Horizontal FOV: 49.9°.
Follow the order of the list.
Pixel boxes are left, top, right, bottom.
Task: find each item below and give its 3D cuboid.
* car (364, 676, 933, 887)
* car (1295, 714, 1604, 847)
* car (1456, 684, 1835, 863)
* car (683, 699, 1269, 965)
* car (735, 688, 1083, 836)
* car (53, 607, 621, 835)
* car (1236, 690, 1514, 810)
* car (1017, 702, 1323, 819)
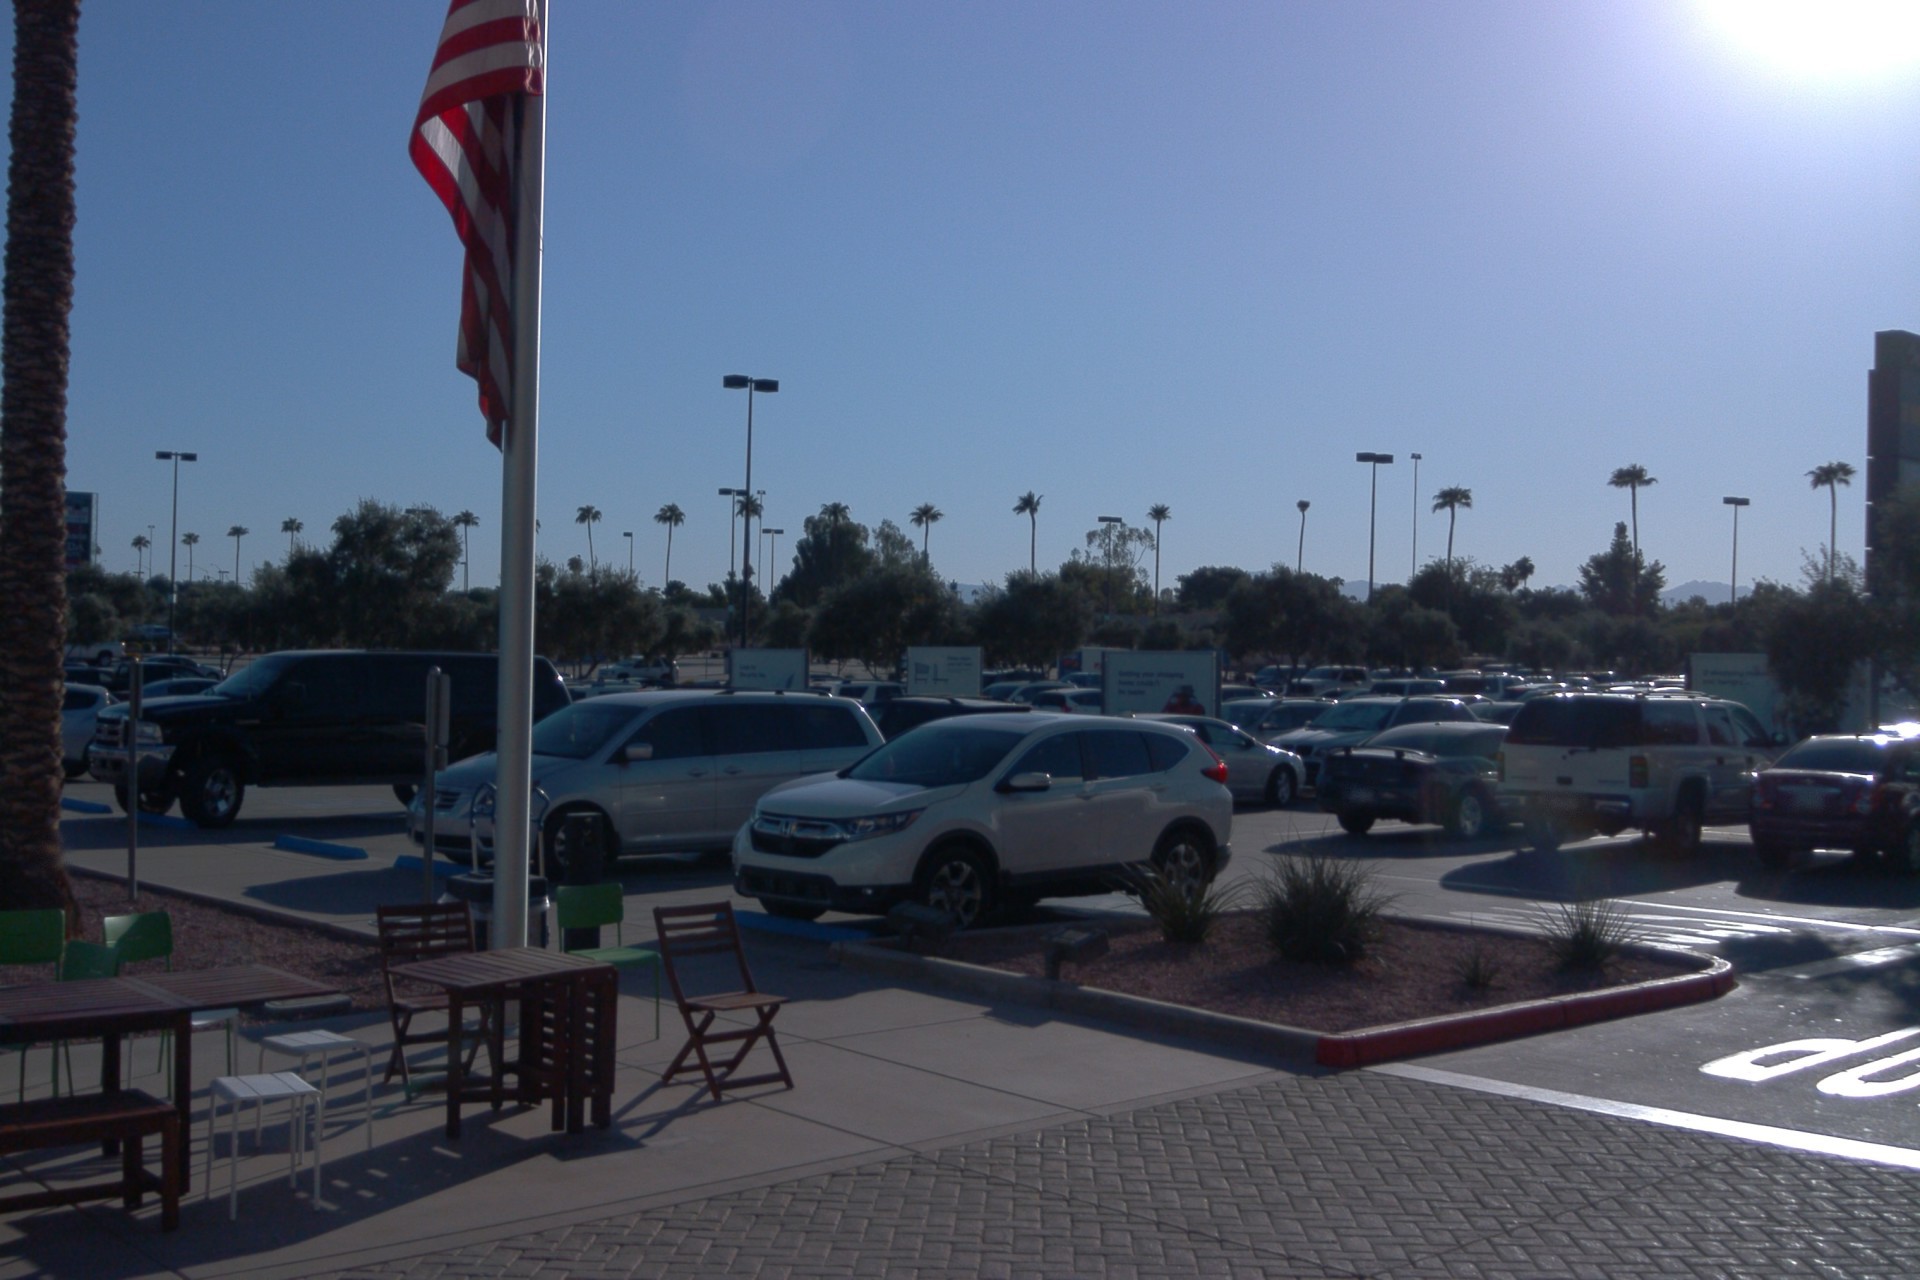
[{"bbox_3d":[-2.969,1.276,20.614,5.286,1.780,2.246,1,0,-44],"label":"car"},{"bbox_3d":[6.563,1.796,27.430,4.346,1.490,1.909,1,0,-43],"label":"car"},{"bbox_3d":[8.494,1.521,25.296,5.317,1.880,2.178,1,0,-44],"label":"car"},{"bbox_3d":[0.259,1.385,16.551,2.159,1.710,4.564,0,0,43],"label":"car"},{"bbox_3d":[-0.774,1.608,28.715,4.563,1.770,2.205,0,0,43],"label":"car"},{"bbox_3d":[-7.575,0.907,25.587,6.160,2.490,2.672,1,0,-41],"label":"car"},{"bbox_3d":[7.200,1.825,35.548,4.865,1.830,2.266,1,0,-43],"label":"car"},{"bbox_3d":[3.292,1.794,31.830,4.773,1.560,1.931,1,0,-41],"label":"car"}]
